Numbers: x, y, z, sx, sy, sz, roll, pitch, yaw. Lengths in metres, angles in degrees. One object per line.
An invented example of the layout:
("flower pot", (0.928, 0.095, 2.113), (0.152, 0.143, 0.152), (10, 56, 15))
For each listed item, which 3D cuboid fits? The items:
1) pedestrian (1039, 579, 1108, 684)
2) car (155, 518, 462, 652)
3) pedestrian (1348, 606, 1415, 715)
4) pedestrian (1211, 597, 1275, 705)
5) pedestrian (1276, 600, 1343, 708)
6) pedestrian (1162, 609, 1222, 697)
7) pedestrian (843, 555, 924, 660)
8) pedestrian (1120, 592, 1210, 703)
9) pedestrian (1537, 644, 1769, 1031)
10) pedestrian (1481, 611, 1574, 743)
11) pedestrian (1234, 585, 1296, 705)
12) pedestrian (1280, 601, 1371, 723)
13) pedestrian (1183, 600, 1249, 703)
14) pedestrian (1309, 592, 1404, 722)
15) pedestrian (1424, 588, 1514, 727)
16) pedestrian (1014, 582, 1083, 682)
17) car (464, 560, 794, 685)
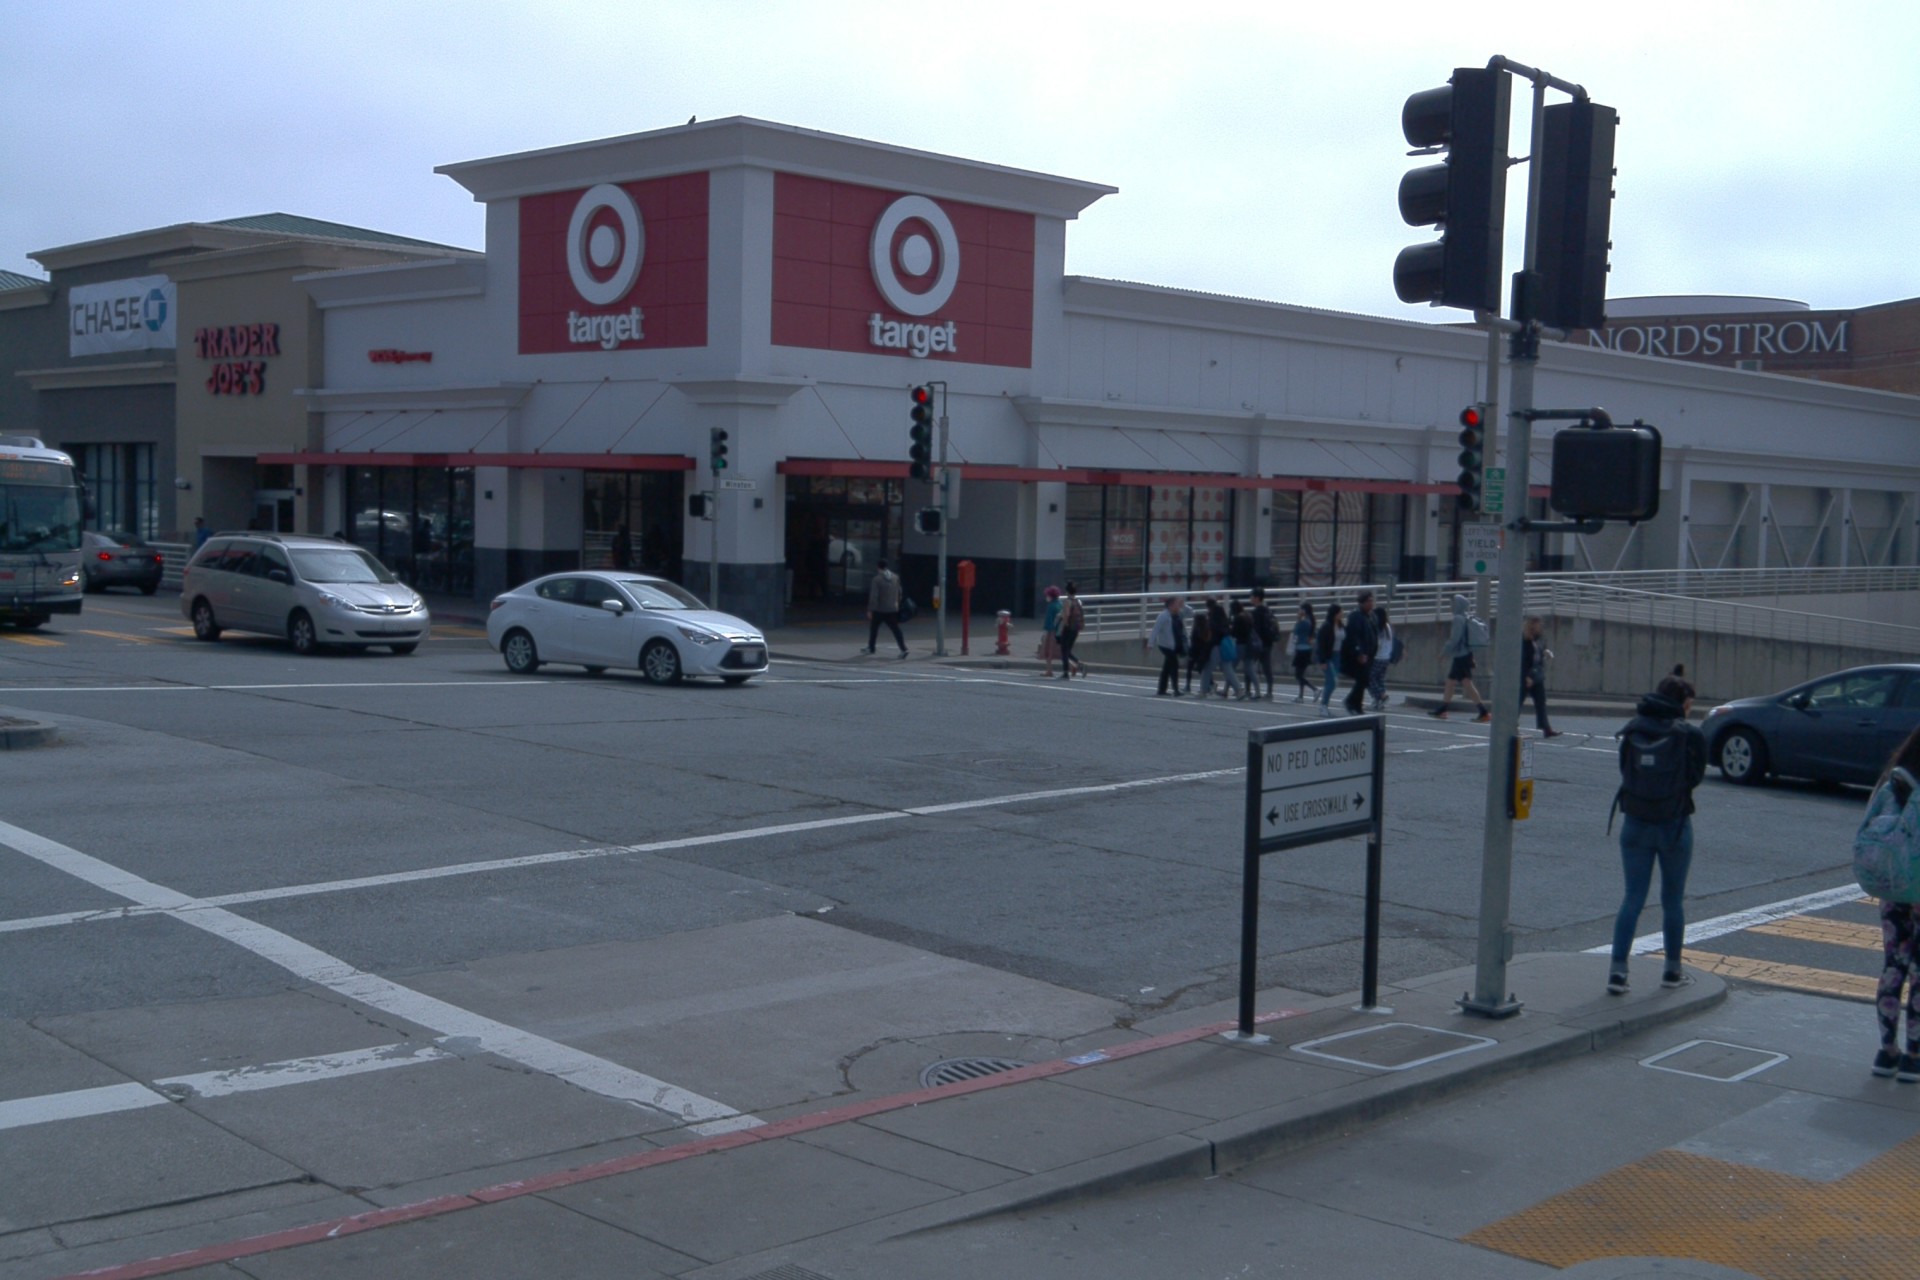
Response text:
("pedestrian", (1.876, -0.144, 34.069), (0.895, 1.700, 0.689), (1, 1, 42))
("car", (-10.404, -0.835, 32.762), (5.161, 1.970, 2.221), (1, 1, 40))
("pedestrian", (6.379, 0.296, 31.248), (0.890, 1.630, 0.611), (0, 1, 23))
("pedestrian", (4.283, 0.155, 31.198), (0.587, 1.600, 0.758), (-1, 1, -45))
("pedestrian", (5.367, 0.210, 31.669), (0.721, 1.630, 0.786), (1, 1, 40))
("pedestrian", (3.622, 0.197, 32.282), (0.769, 1.360, 0.521), (1, 1, 42))
("pedestrian", (-1.370, -0.575, 37.029), (1.043, 1.850, 1.025), (0, 1, 38))
("pedestrian", (3.057, 0.099, 30.783), (0.972, 1.610, 0.944), (1, 1, 42))
("pedestrian", (3.400, 0.910, 10.109), (0.843, 1.760, 0.940), (0, 1, 35))
("pedestrian", (7.356, 0.460, 26.759), (0.926, 1.680, 0.769), (0, 1, 39))
("pedestrian", (4.661, 0.067, 31.534), (0.592, 1.800, 0.732), (-1, 1, -42))
("pedestrian", (5.012, 0.288, 28.292), (0.742, 1.630, 0.987), (-1, 1, -38))
("pedestrian", (3.832, 0.164, 30.889), (0.707, 1.530, 0.680), (1, 1, 44))
("pedestrian", (5.486, 0.220, 28.573), (0.795, 1.750, 1.018), (-1, 1, -37))
("pedestrian", (7.315, 0.243, 29.640), (1.039, 1.960, 0.717), (1, 1, 40))
("pedestrian", (1.502, -0.145, 35.040), (0.873, 1.670, 0.783), (0, 1, 37))
("car", (-4.585, -0.246, 28.393), (4.369, 1.600, 1.885), (0, 1, 34))
